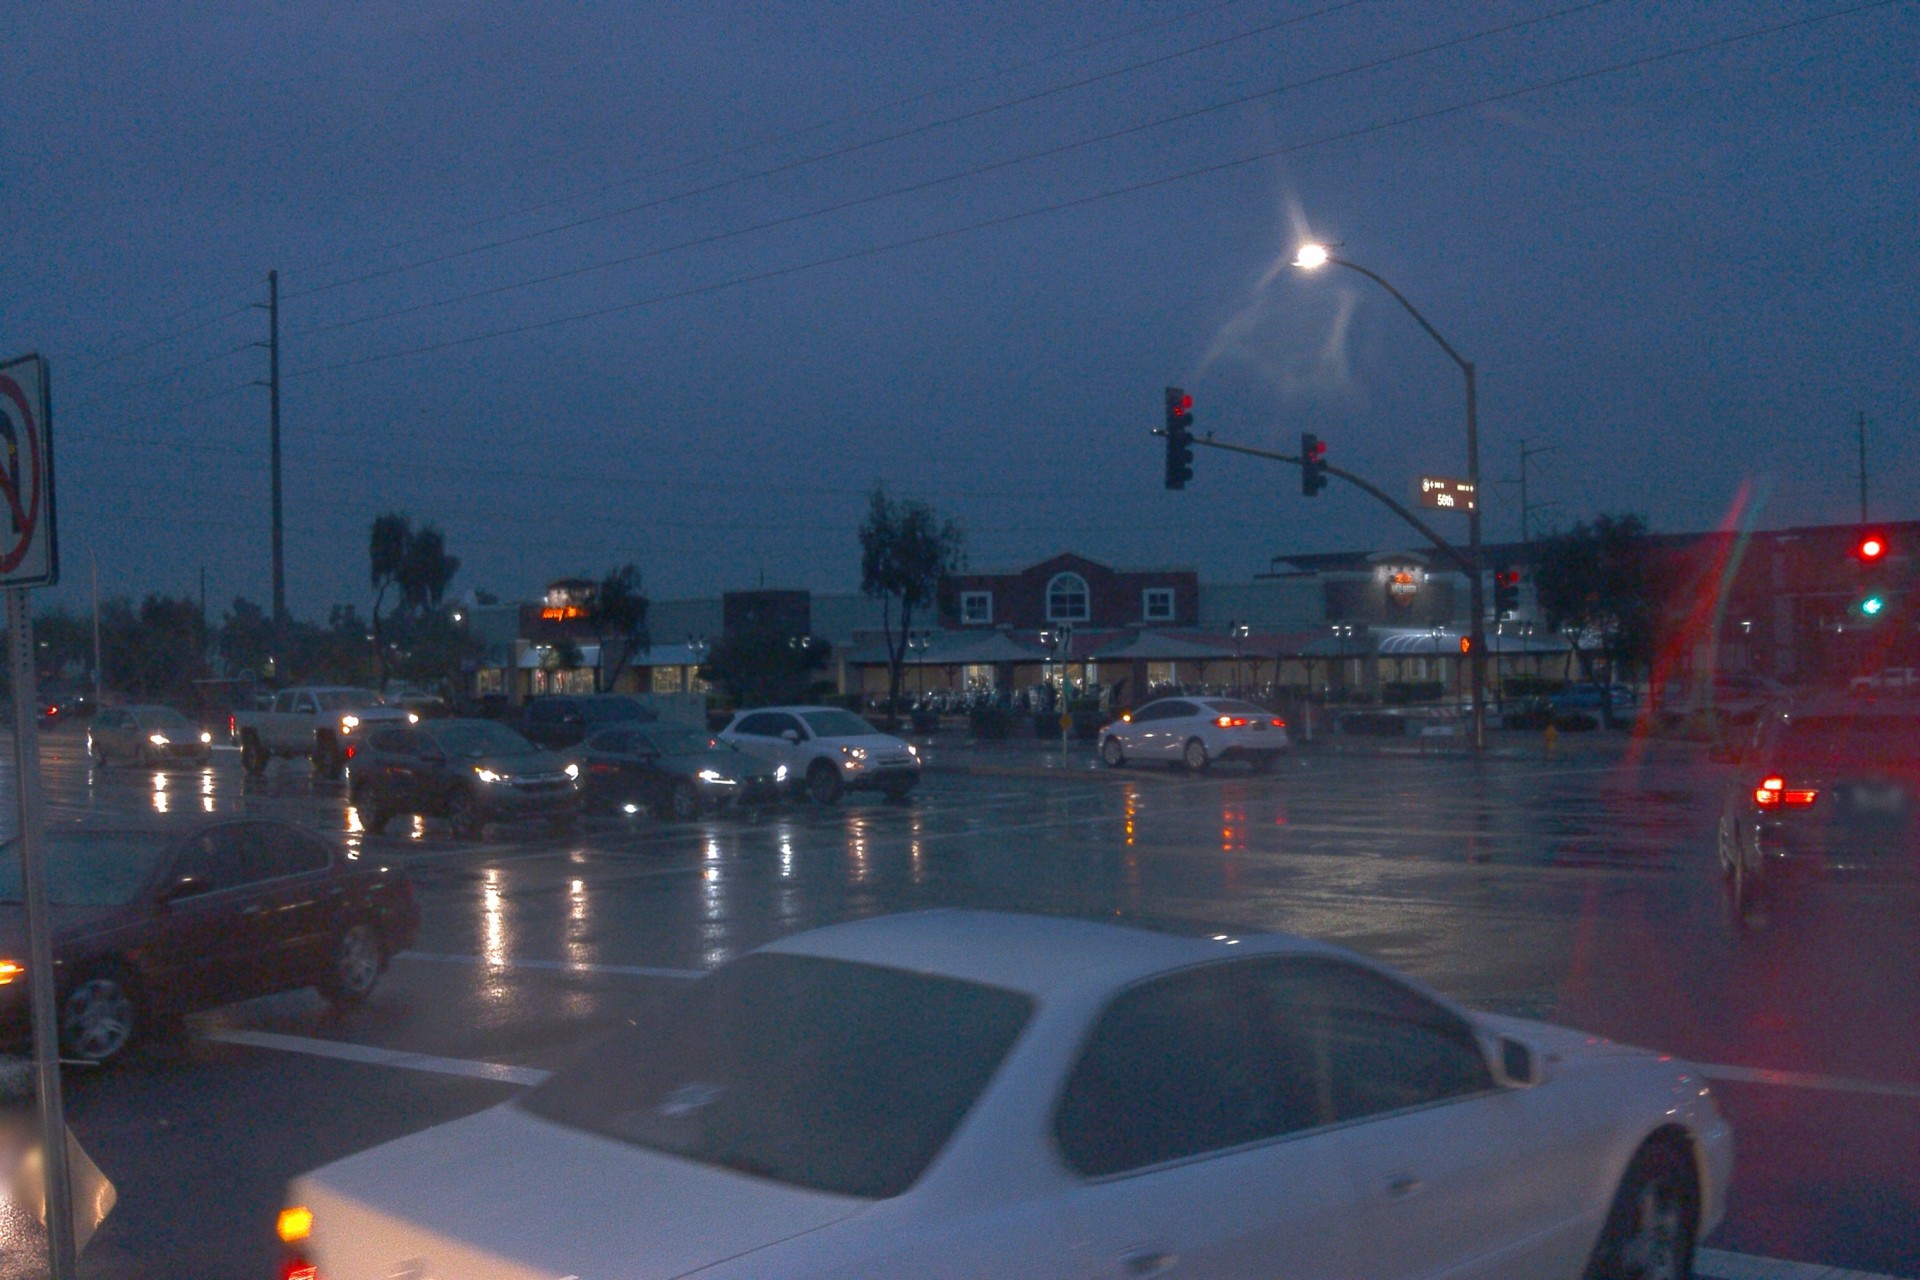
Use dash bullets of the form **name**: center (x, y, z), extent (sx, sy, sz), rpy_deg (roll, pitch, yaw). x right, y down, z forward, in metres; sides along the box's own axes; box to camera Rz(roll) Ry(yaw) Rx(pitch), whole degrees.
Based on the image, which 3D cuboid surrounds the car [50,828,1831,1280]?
- **car**: center (0.433, 1.471, 5.671), extent (2.131, 1.520, 4.879), rpy_deg (-1, -1, 41)

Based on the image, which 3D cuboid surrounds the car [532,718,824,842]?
- **car**: center (-4.598, 2.172, 33.540), extent (4.666, 1.730, 2.267), rpy_deg (-1, -1, 44)

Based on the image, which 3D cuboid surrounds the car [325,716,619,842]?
- **car**: center (-7.465, 2.037, 31.641), extent (4.544, 1.660, 2.258), rpy_deg (-1, -1, 45)

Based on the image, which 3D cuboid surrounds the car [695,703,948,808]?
- **car**: center (-2.451, 1.944, 36.072), extent (2.095, 1.630, 4.278), rpy_deg (1, -1, -44)
